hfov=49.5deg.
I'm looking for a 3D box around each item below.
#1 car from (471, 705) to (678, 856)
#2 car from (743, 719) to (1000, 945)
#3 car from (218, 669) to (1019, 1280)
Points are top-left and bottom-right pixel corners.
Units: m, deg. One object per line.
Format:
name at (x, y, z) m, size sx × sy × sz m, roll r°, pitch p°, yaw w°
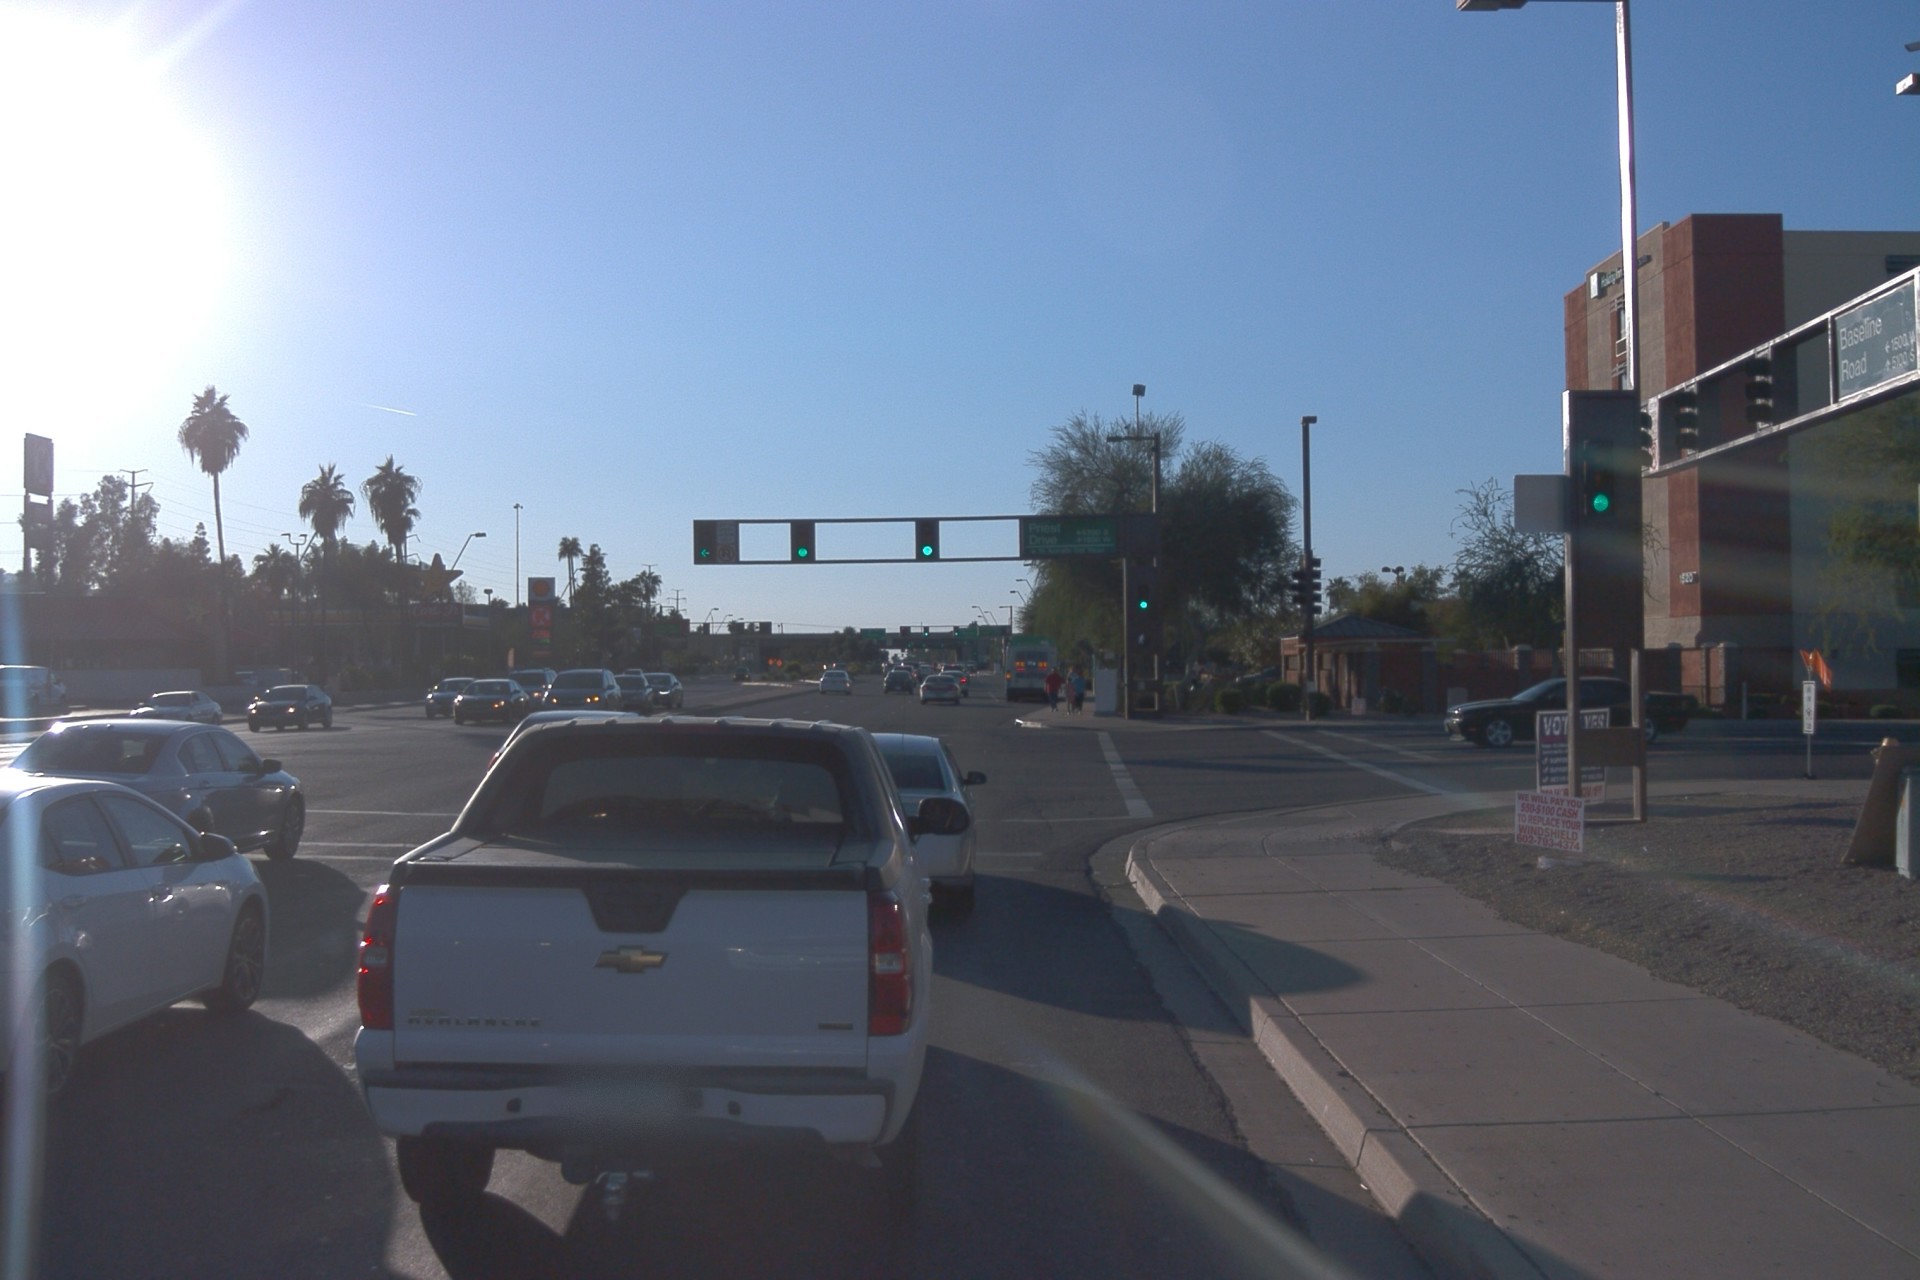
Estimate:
car at (-4.637, 1.658, 25.564) m, size 1.769 × 1.630 × 3.866 m, roll 1°, pitch -1°, yaw 1°
car at (-0.718, 1.618, 18.950) m, size 2.031 × 1.680 × 4.704 m, roll 1°, pitch -1°, yaw 0°
car at (-1.165, 1.204, 9.220) m, size 2.477 × 2.120 × 5.357 m, roll 1°, pitch -1°, yaw -2°
